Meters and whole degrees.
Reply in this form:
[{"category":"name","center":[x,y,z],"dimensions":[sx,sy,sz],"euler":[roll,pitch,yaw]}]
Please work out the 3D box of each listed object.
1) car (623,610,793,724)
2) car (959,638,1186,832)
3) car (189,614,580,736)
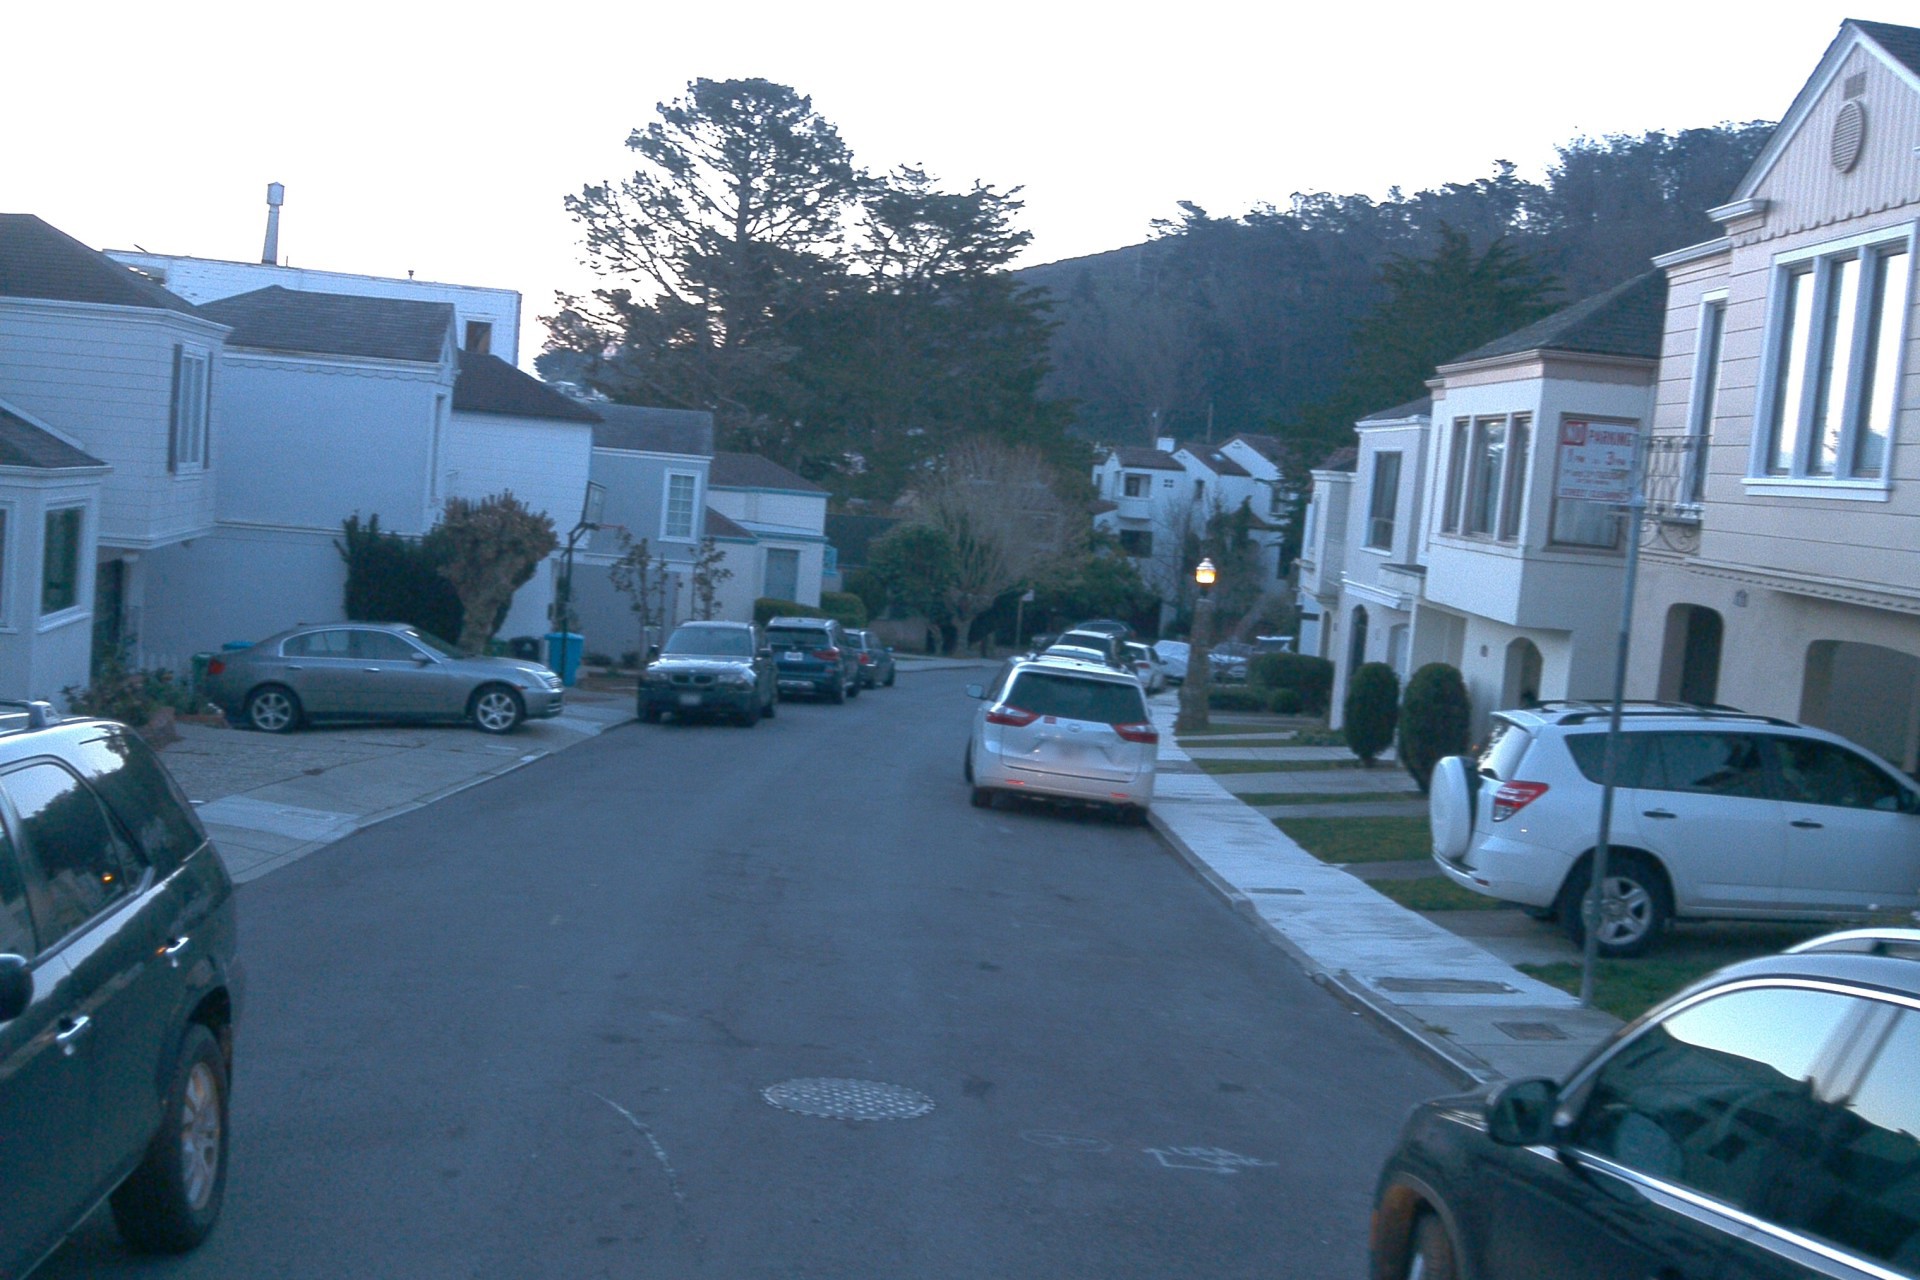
[{"category":"car","center":[-4.044,0.426,34.005],"dimensions":[2.095,1.740,4.527],"euler":[0,0,2]},{"category":"car","center":[1.185,1.017,24.417],"dimensions":[2.375,2.050,5.076],"euler":[0,0,0]},{"category":"car","center":[-7.640,0.461,27.884],"dimensions":[4.767,1.580,1.990],"euler":[0,0,-3]}]
